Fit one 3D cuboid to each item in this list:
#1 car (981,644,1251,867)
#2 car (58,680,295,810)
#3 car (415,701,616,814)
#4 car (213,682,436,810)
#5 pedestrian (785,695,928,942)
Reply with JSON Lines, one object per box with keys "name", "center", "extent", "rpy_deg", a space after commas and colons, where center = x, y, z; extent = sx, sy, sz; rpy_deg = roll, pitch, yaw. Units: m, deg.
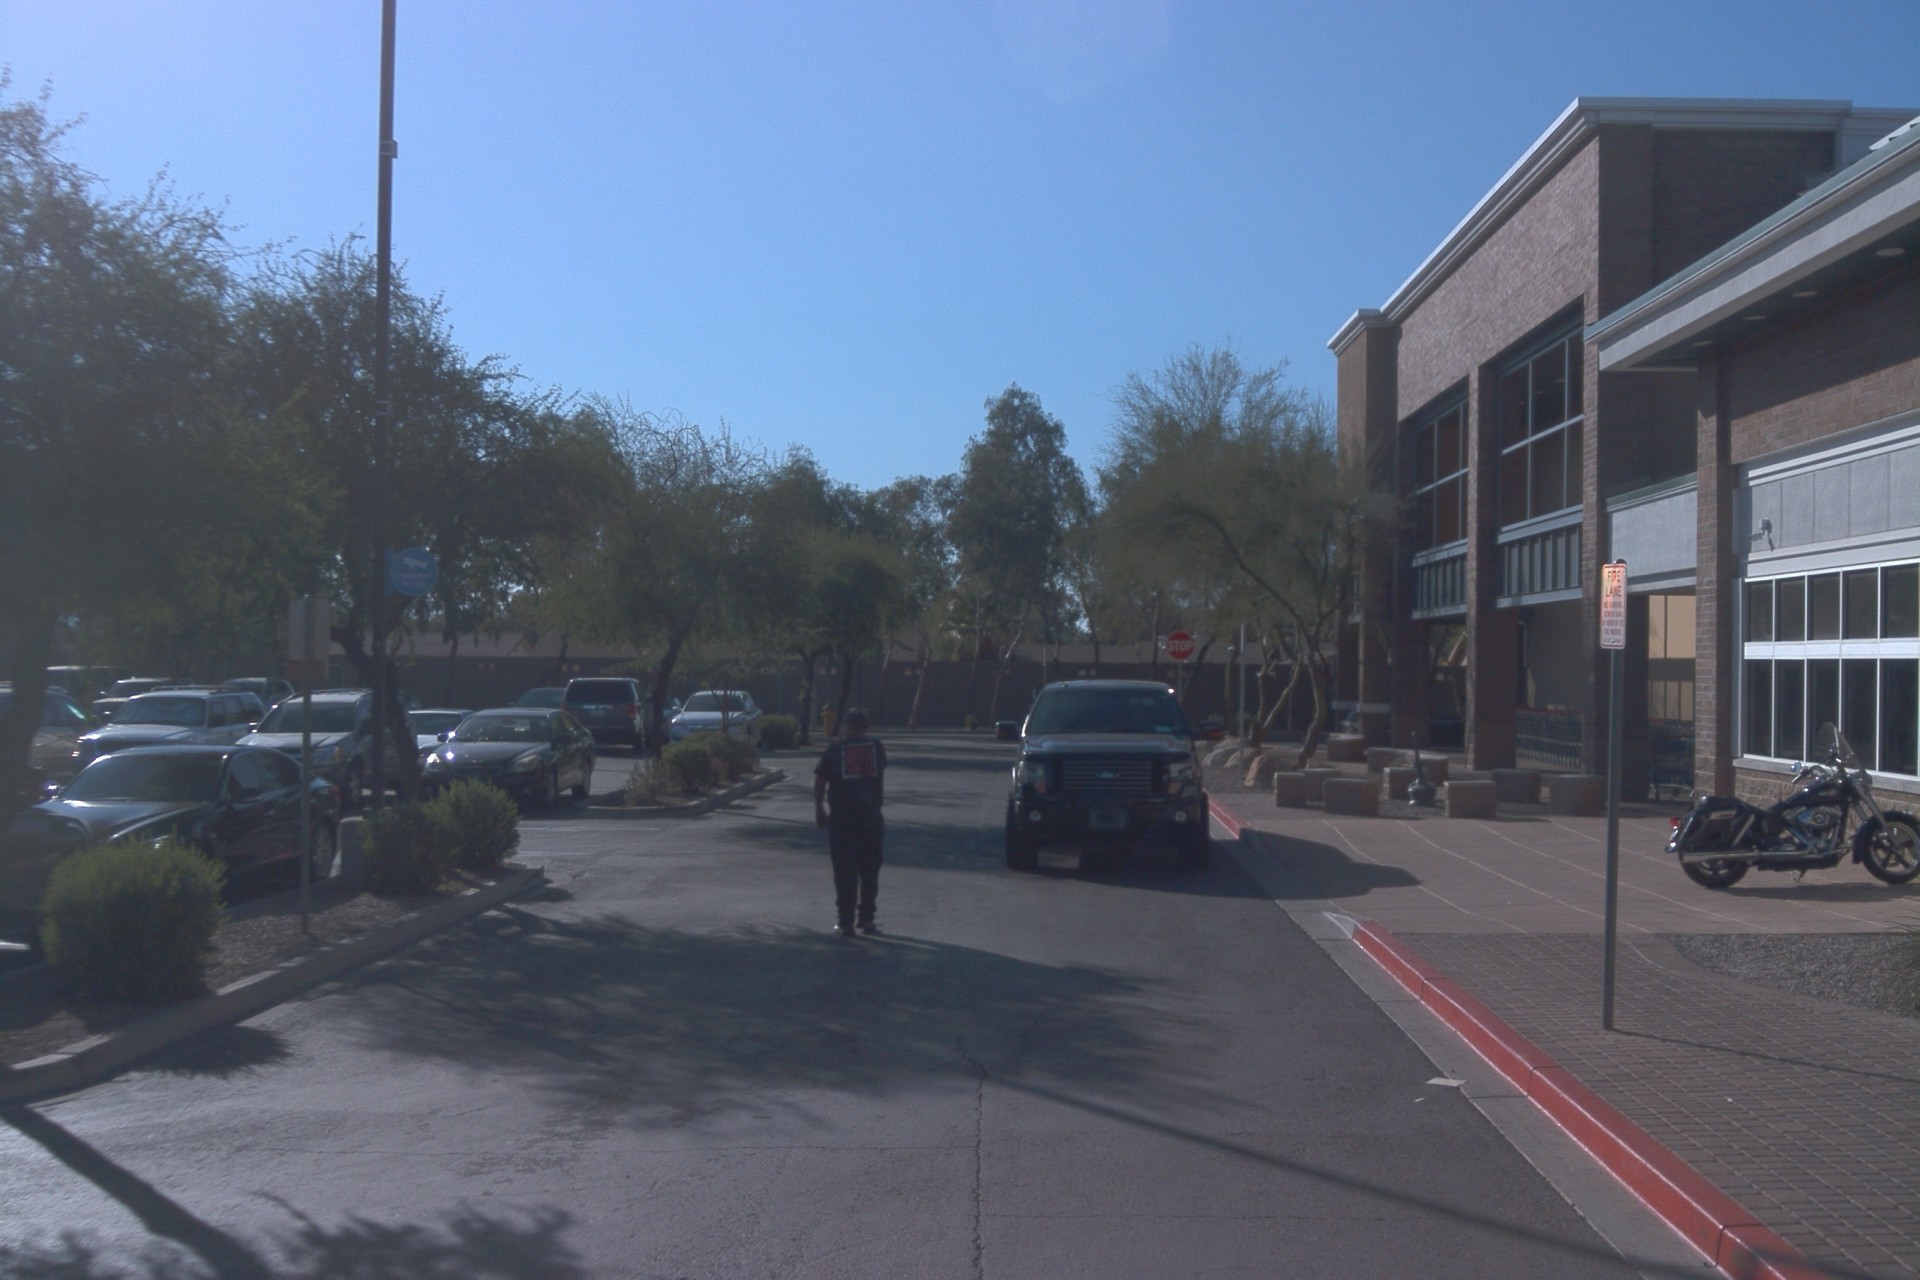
{"name": "car", "center": [1.658, 1.219, 23.478], "extent": [2.655, 2.190, 5.664], "rpy_deg": [-1, -1, 2]}
{"name": "car", "center": [-12.041, 1.576, 32.234], "extent": [1.922, 1.860, 4.555], "rpy_deg": [-1, -1, 1]}
{"name": "car", "center": [-6.698, 1.729, 31.783], "extent": [1.931, 1.560, 4.779], "rpy_deg": [-1, -1, 2]}
{"name": "car", "center": [-9.628, 1.563, 31.823], "extent": [1.886, 1.820, 4.571], "rpy_deg": [-1, -1, 2]}
{"name": "pedestrian", "center": [-0.841, 1.379, 16.485], "extent": [1.075, 1.870, 1.184], "rpy_deg": [0, -1, -5]}
